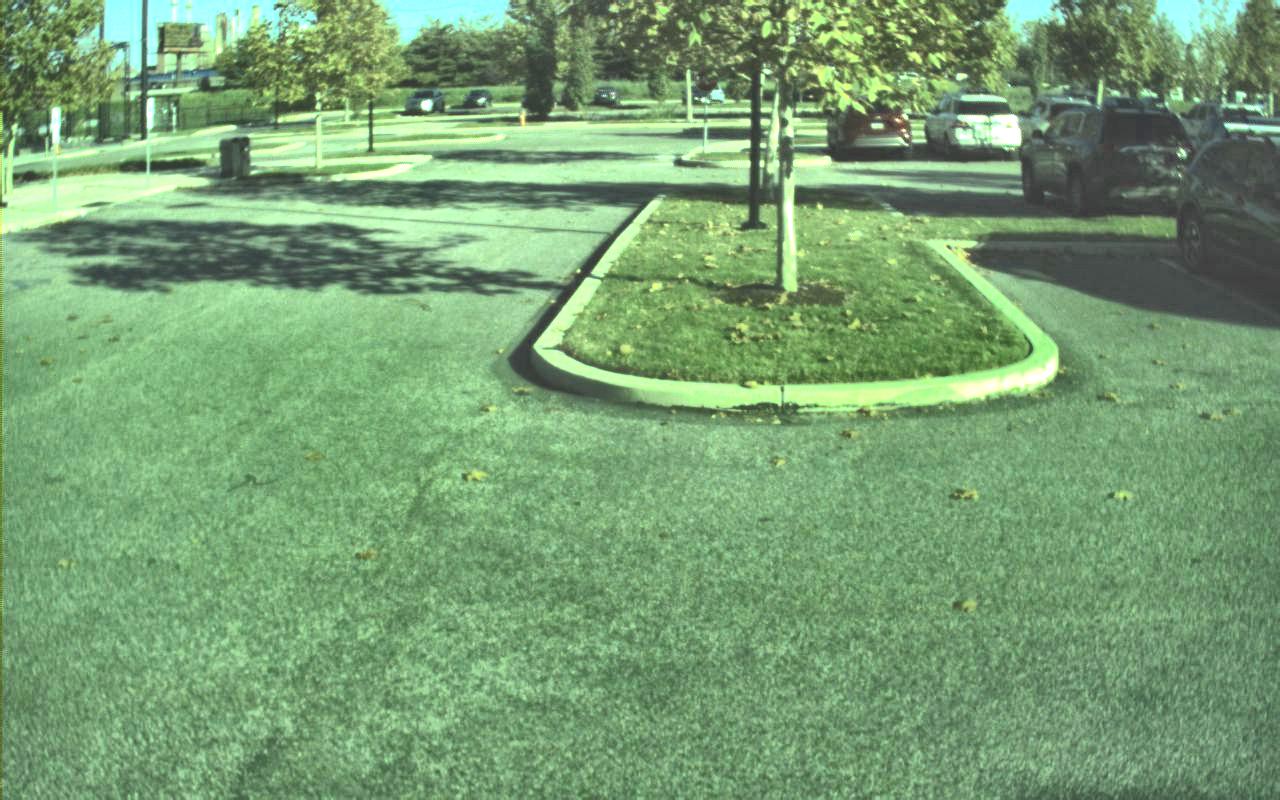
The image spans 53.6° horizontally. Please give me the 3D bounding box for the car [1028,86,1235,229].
[{"bbox_3d":[7.659,-3.933,18.595,1.996,1.696,4.683,0,17,3],"label":"car"}]

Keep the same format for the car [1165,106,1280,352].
[{"bbox_3d":[6.825,-1.815,10.837,1.967,1.645,4.582,0,17,3],"label":"car"}]

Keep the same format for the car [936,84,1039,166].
[{"bbox_3d":[9.245,-7.415,32.421,2.032,1.782,4.741,1,17,6],"label":"car"}]
